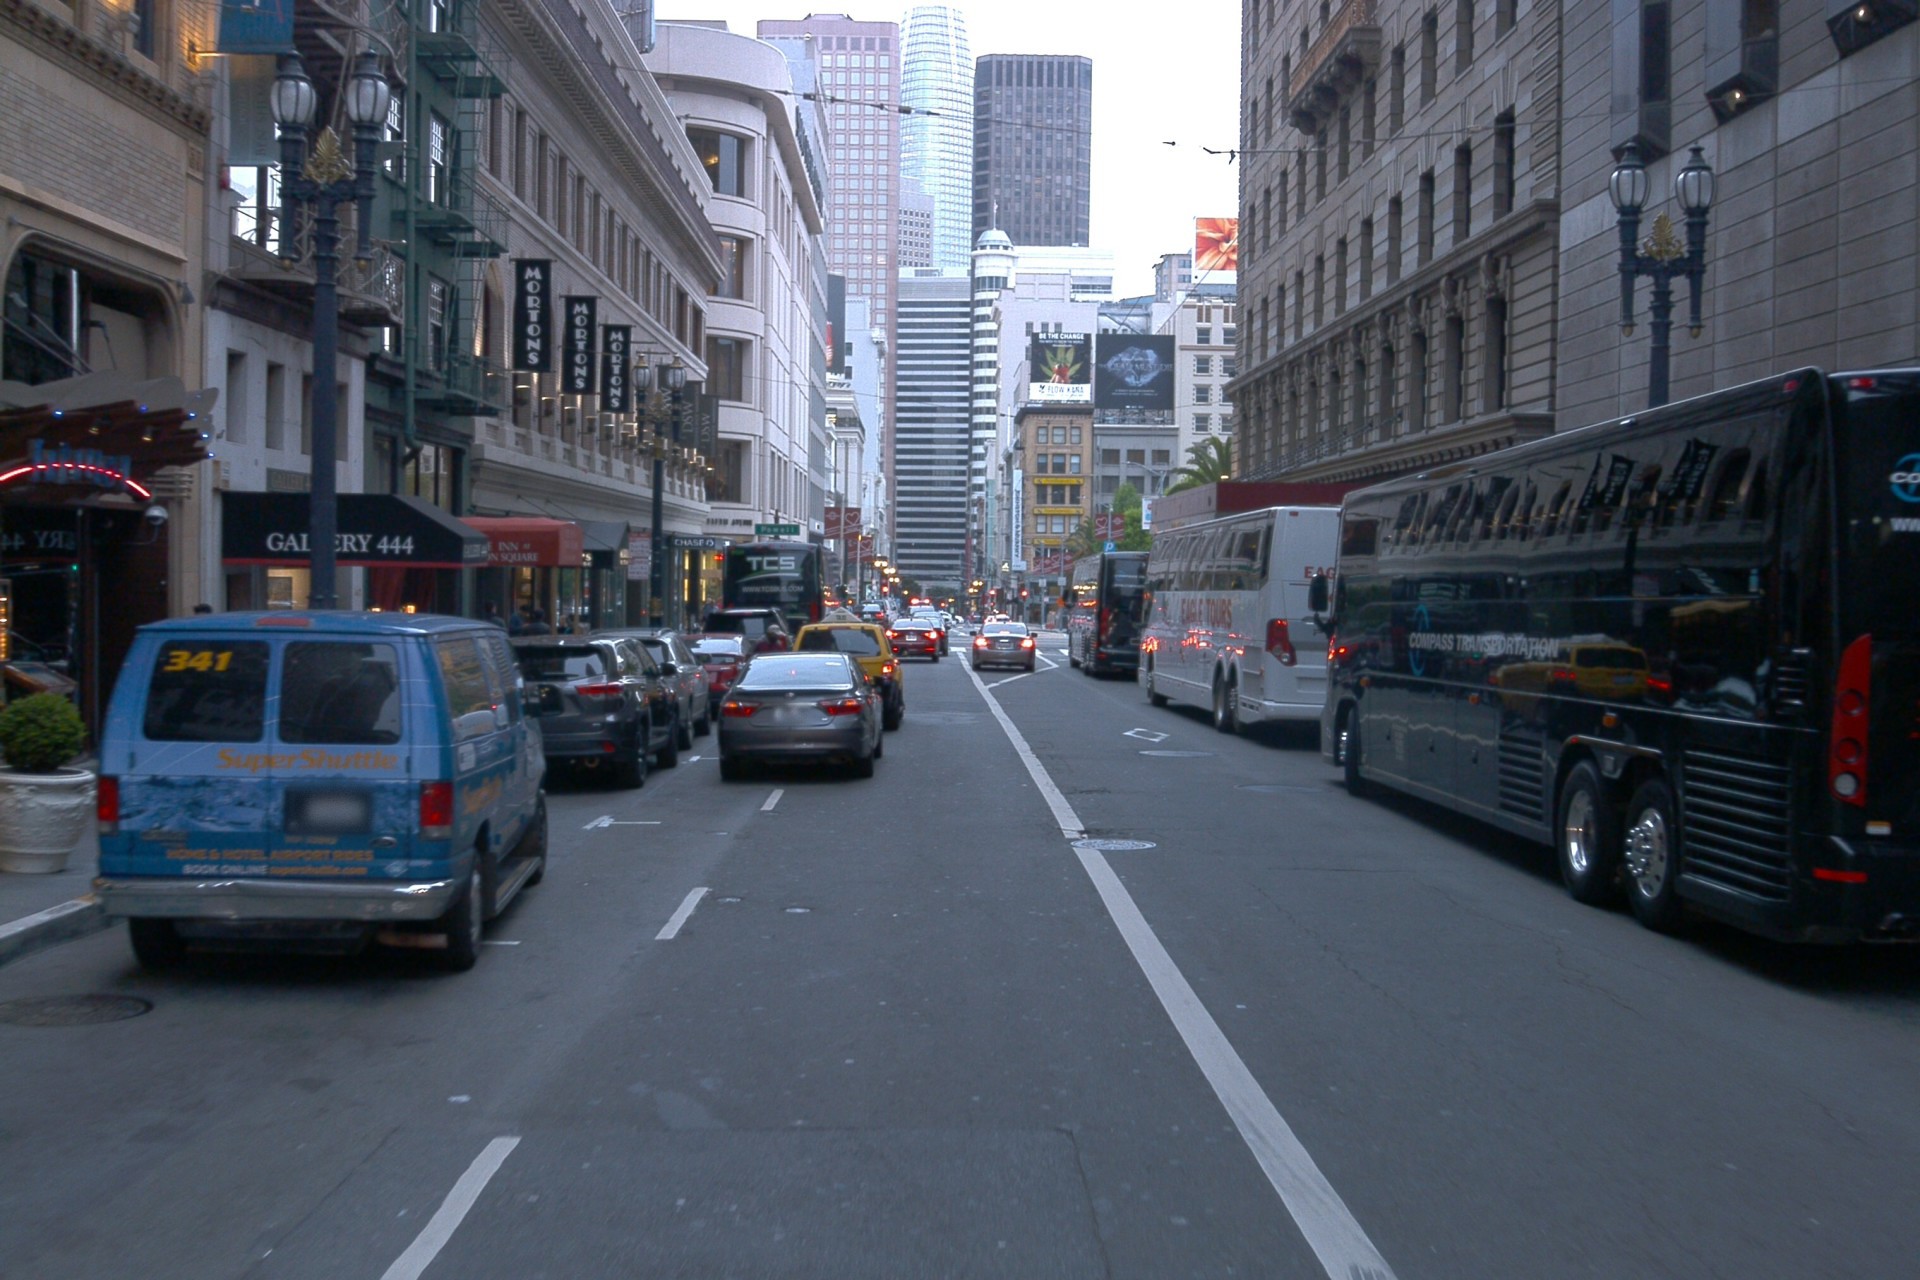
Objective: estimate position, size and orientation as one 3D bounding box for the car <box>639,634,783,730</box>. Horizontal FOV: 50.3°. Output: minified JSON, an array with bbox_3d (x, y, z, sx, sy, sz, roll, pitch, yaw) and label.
[{"bbox_3d":[-4.324,0.690,36.194,2.097,1.570,4.513,0,1,-1],"label":"car"}]

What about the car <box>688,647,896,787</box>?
[{"bbox_3d":[-1.955,0.871,25.368,2.149,1.510,4.905,0,1,0],"label":"car"}]

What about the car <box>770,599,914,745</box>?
[{"bbox_3d":[-1.814,0.446,32.929,2.089,2.172,4.974,0,1,-1],"label":"car"}]

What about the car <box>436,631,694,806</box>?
[{"bbox_3d":[-4.512,0.829,24.178,2.182,1.830,4.884,0,1,-1],"label":"car"}]

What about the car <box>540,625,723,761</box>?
[{"bbox_3d":[-4.639,0.688,29.541,2.092,1.810,4.552,0,1,-2],"label":"car"}]

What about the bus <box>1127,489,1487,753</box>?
[{"bbox_3d":[5.545,-0.341,36.337,3.307,3.770,14.116,0,1,-3],"label":"bus"}]

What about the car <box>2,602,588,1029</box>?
[{"bbox_3d":[-3.916,0.869,13.335,2.467,2.182,5.614,0,1,-5],"label":"car"}]

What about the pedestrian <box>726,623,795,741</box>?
[{"bbox_3d":[-3.043,0.618,31.092,0.908,1.760,0.859,0,1,-16],"label":"pedestrian"}]
